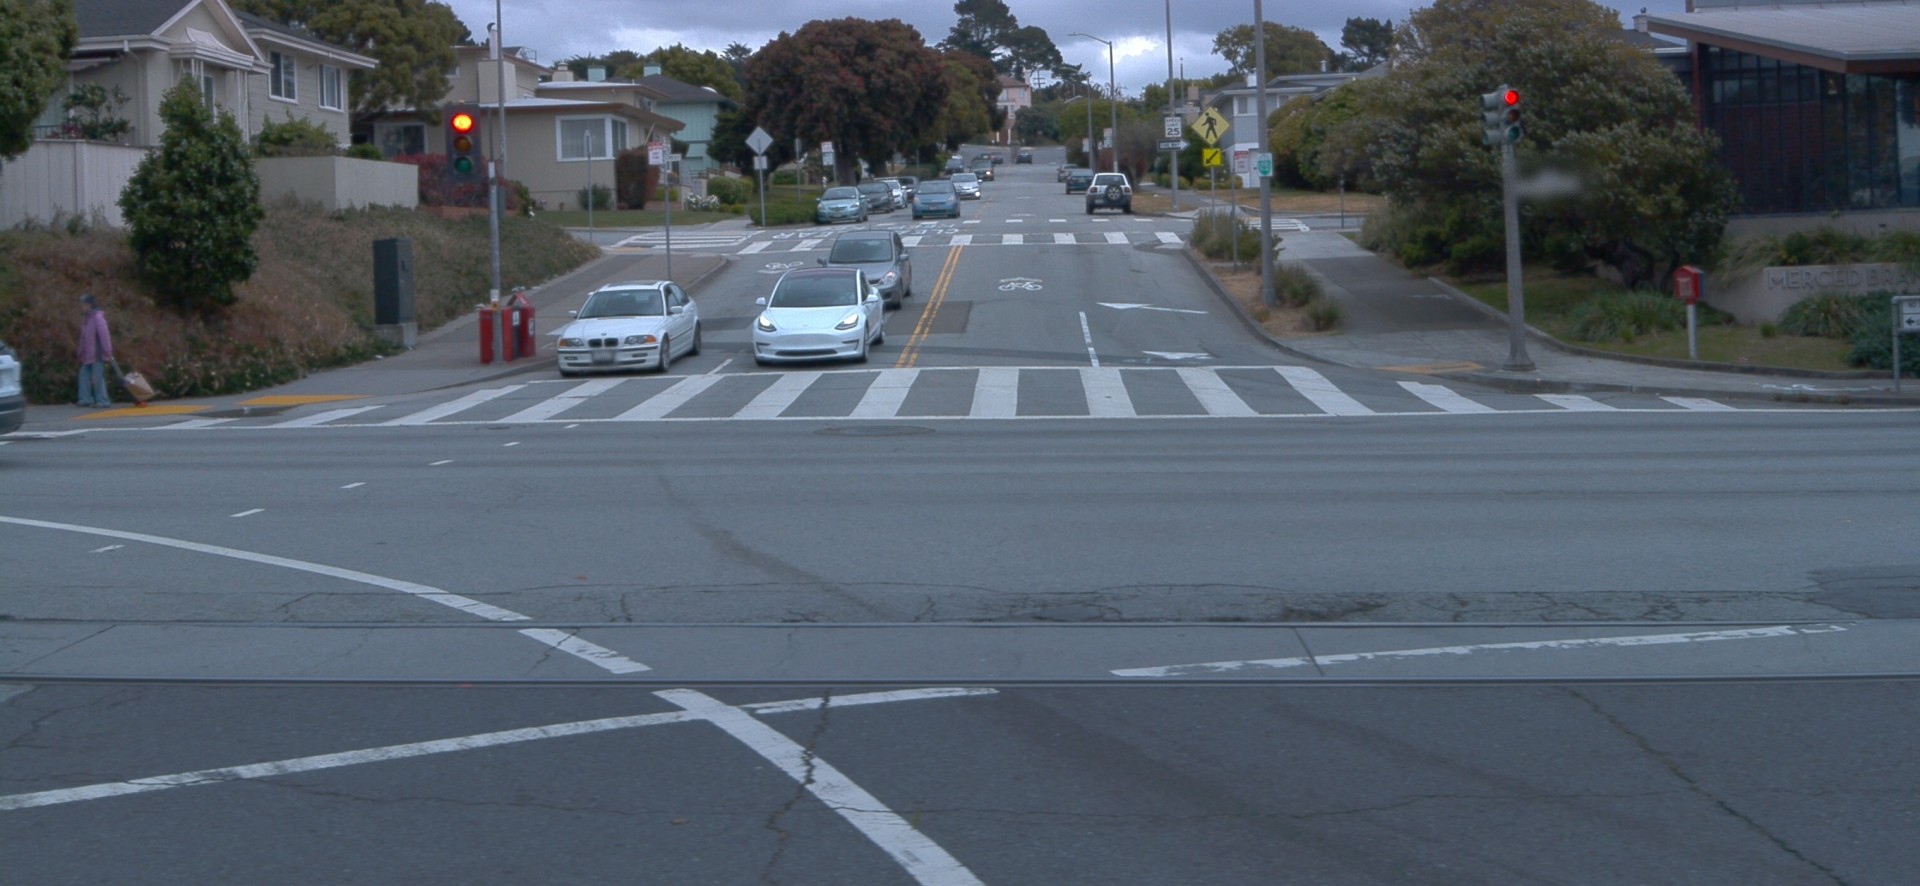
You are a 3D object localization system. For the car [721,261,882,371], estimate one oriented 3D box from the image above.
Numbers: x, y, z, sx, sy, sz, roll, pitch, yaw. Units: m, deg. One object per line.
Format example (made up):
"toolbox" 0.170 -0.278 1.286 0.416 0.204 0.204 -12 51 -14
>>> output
"car" -2.573 -2.195 34.749 2.074 1.591 4.561 0 6 4

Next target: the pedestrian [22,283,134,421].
"pedestrian" -12.596 -1.325 29.525 1.226 1.866 0.990 -3 3 -38

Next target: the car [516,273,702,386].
"car" -5.741 -1.951 34.380 2.016 1.591 4.484 0 6 4
